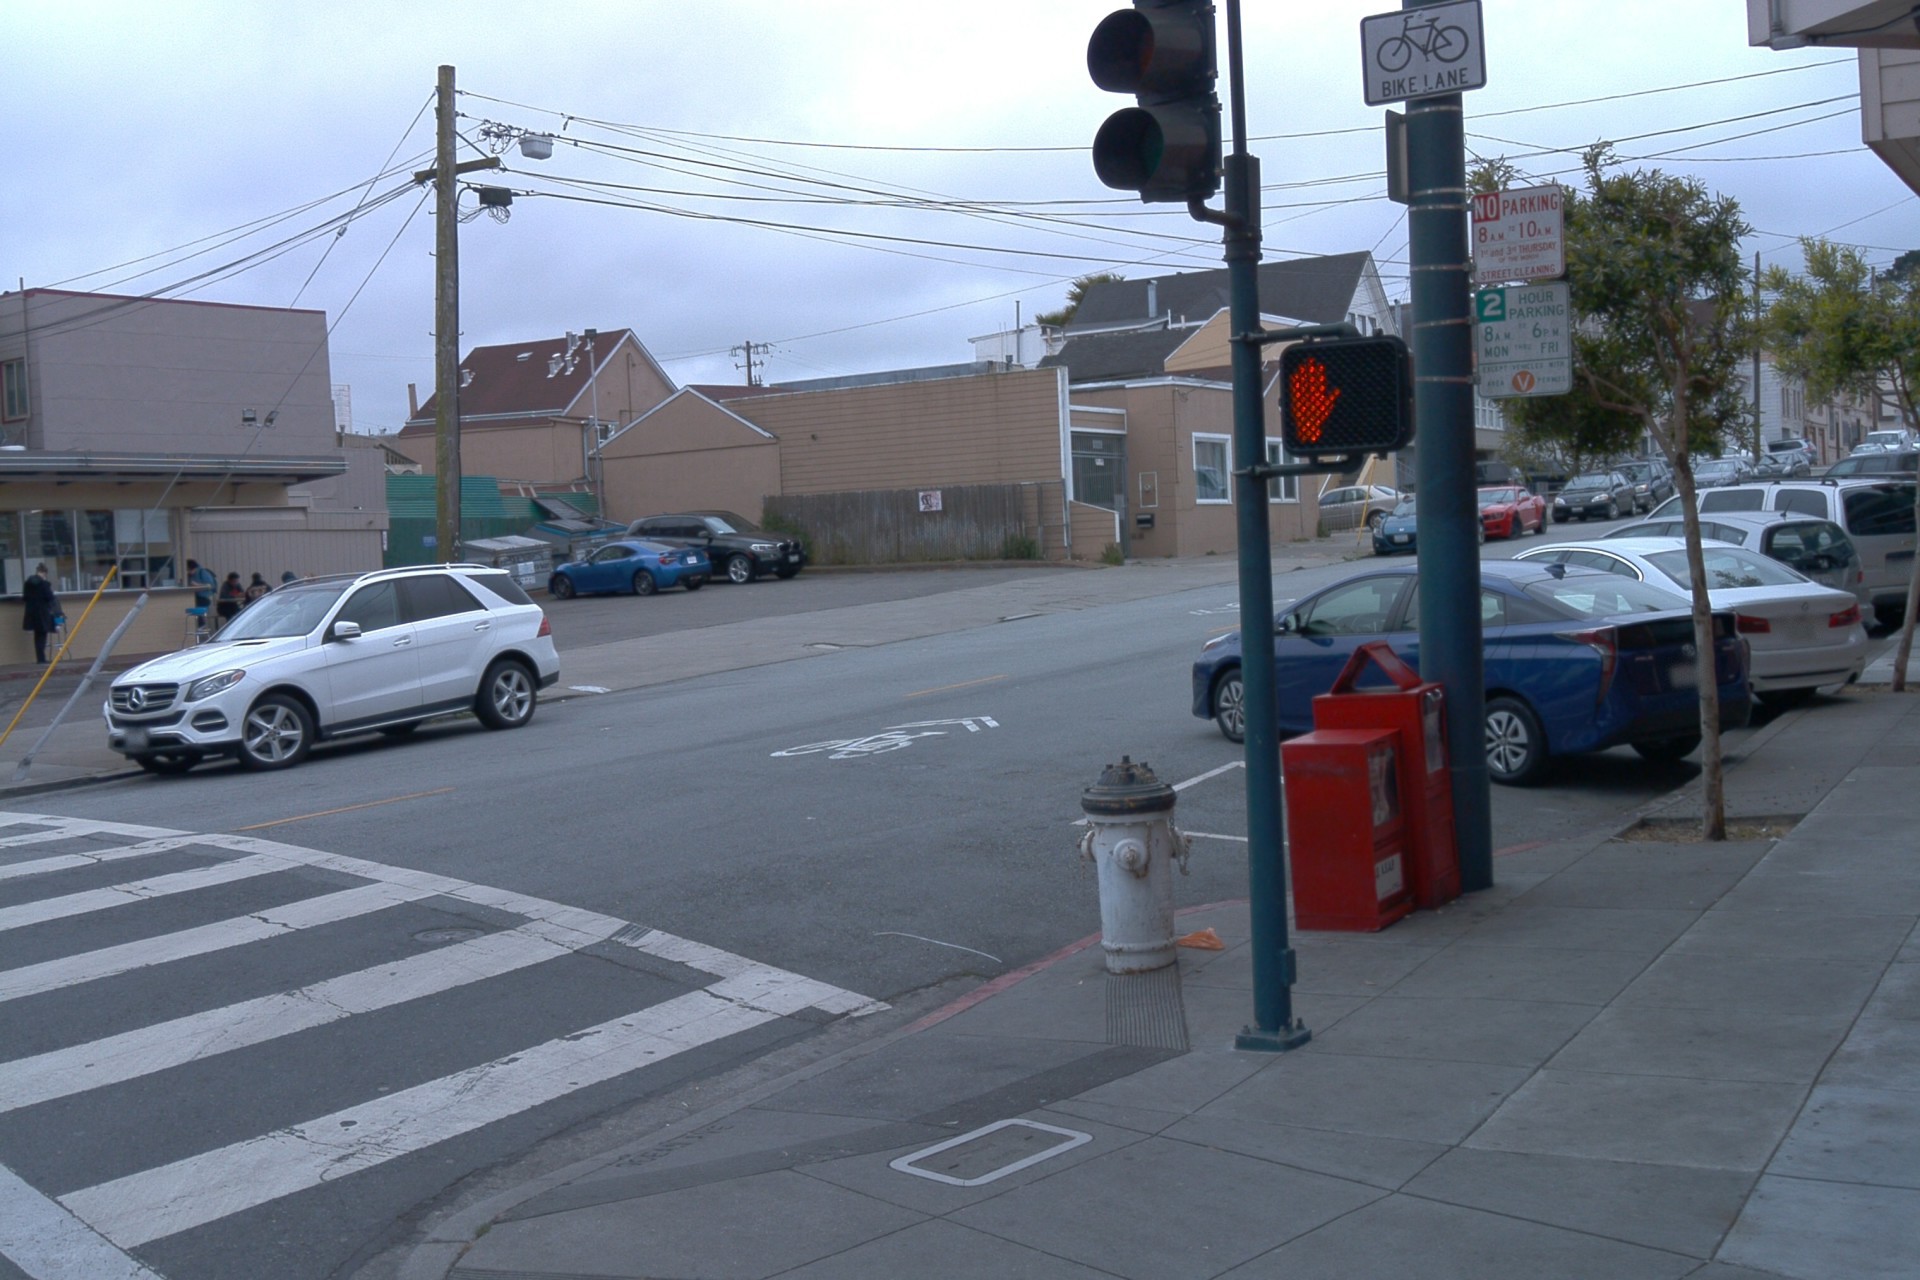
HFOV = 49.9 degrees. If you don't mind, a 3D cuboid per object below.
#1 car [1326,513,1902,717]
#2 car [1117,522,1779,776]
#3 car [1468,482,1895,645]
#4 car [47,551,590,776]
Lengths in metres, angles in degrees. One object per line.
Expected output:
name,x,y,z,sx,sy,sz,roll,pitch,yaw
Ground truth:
car,5.682,-0.219,18.808,2.145,1.580,5.139,0,1,-23
car,3.509,0.036,15.777,2.158,1.630,4.706,0,1,-34
car,7.670,-0.766,22.406,2.010,1.580,4.226,0,1,-24
car,-6.233,0.177,20.675,2.251,1.960,4.887,0,1,33
